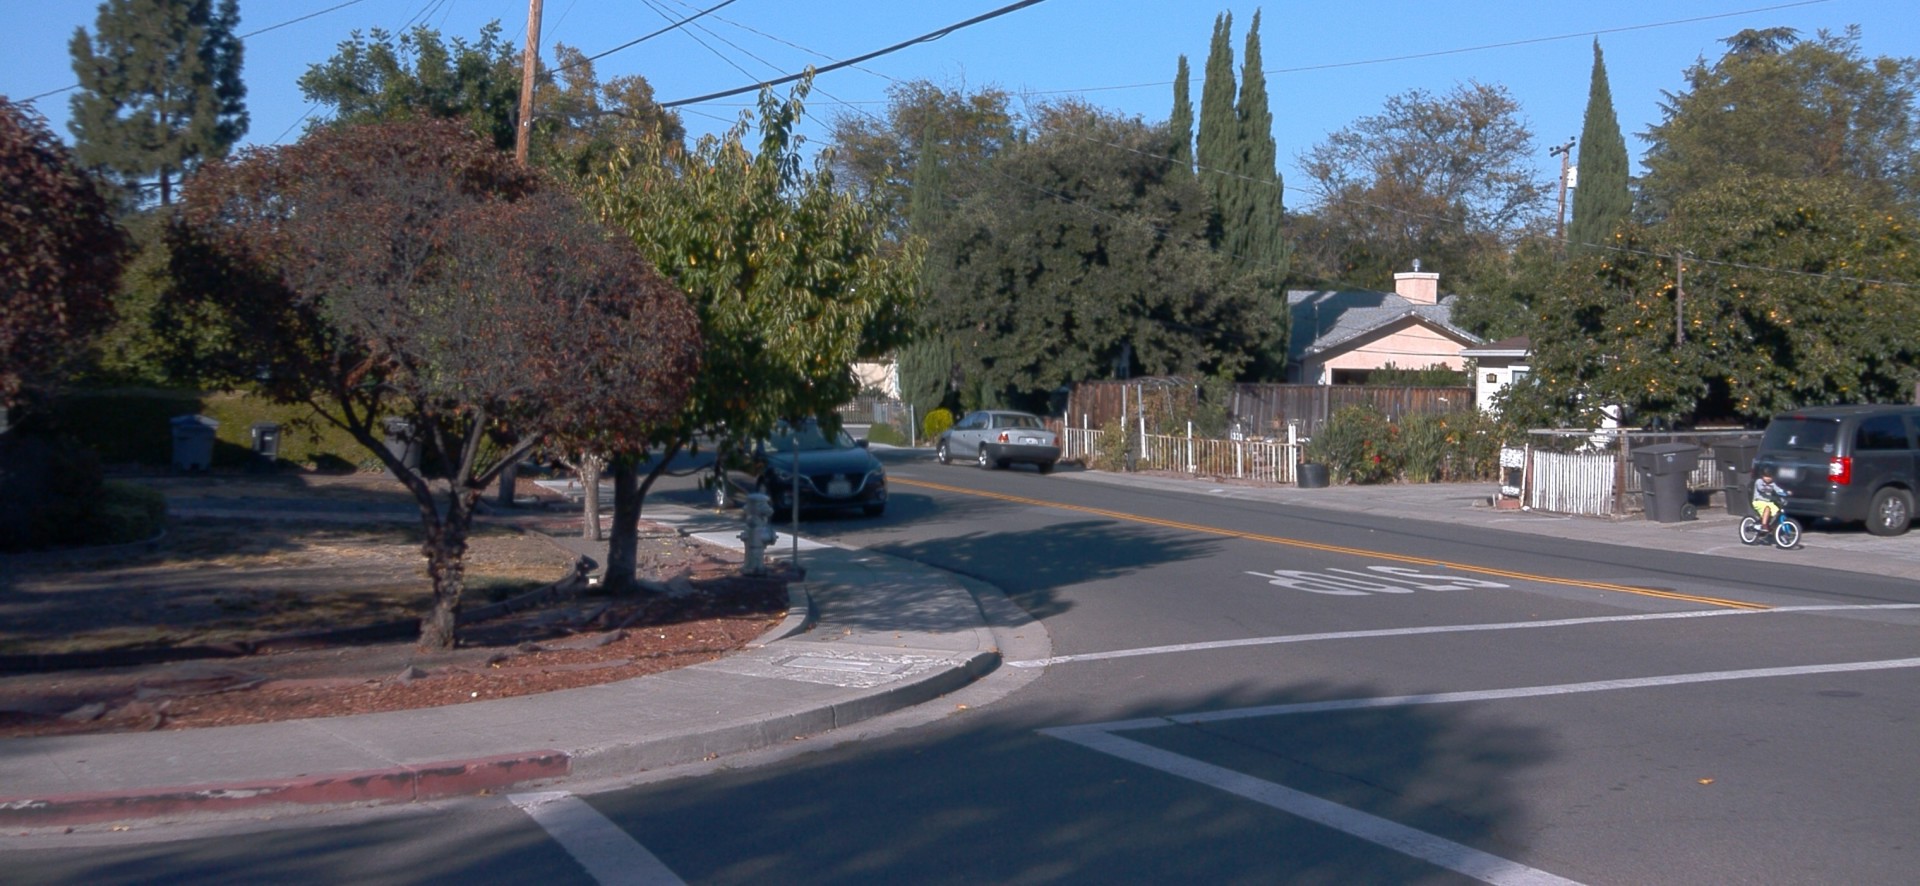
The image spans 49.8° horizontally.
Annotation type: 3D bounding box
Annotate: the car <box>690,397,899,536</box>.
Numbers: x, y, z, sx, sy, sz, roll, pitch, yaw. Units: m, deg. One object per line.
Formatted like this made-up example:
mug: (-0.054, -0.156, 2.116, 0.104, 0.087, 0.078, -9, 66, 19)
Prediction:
car: (-2.625, 0.272, 31.659, 2.032, 1.554, 4.625, -1, 5, -20)

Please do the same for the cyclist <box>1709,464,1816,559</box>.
cyclist: (10.432, 0.873, 26.921, 0.647, 1.058, 1.209, 0, 4, -21)
